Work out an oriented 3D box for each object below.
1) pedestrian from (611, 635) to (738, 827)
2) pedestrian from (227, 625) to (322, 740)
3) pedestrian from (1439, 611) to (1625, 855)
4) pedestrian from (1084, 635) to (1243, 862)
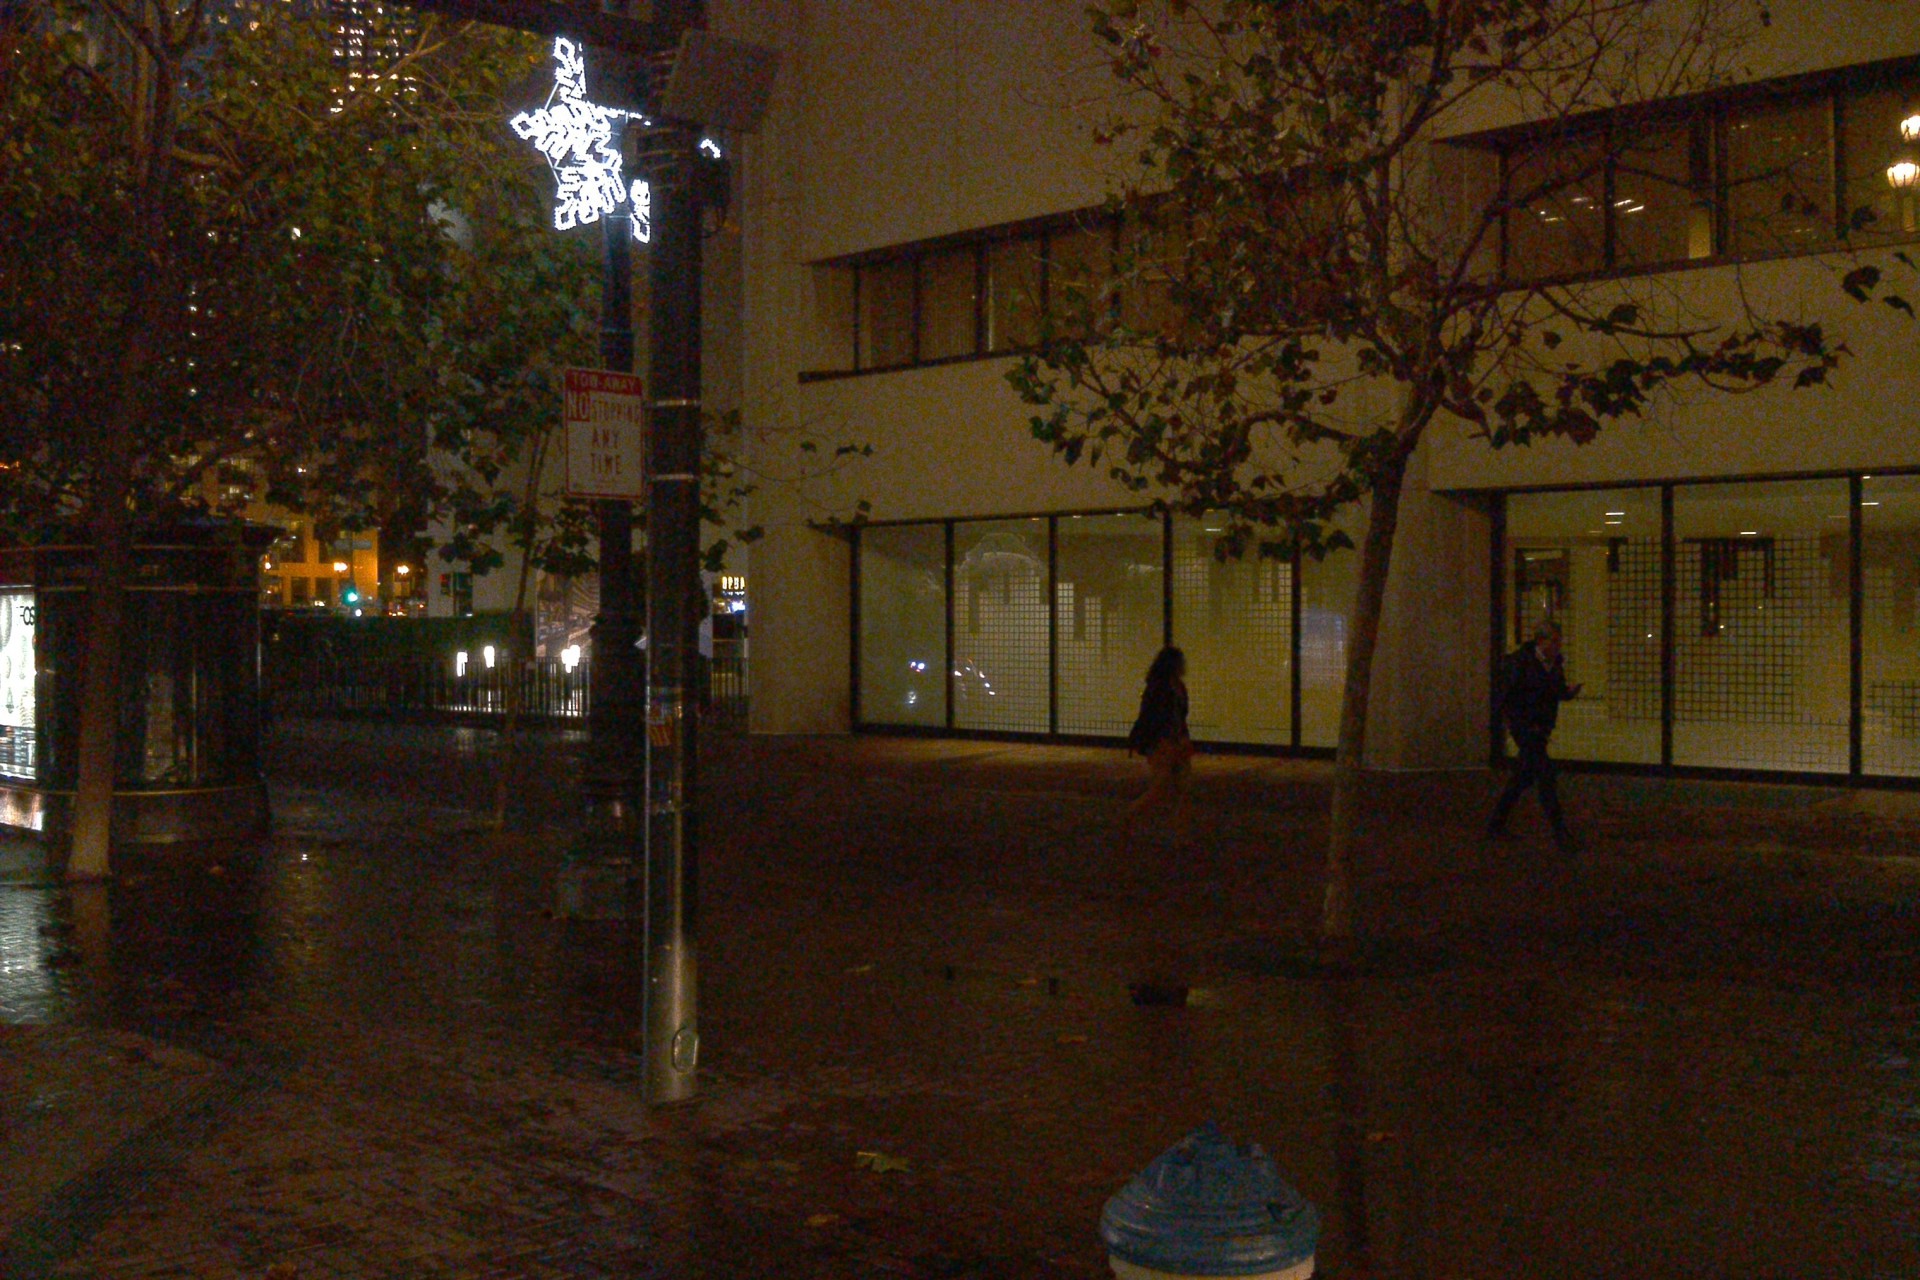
[{"bbox_3d":[-2.750,0.842,19.687,0.860,1.780,1.103,1,0,-28],"label":"pedestrian"},{"bbox_3d":[-10.225,0.621,30.570,1.061,1.670,0.918,0,0,41],"label":"pedestrian"},{"bbox_3d":[4.487,0.702,16.103,0.841,1.830,1.114,1,0,-38],"label":"pedestrian"},{"bbox_3d":[1.659,0.852,16.705,1.050,1.780,0.729,0,0,44],"label":"pedestrian"}]
